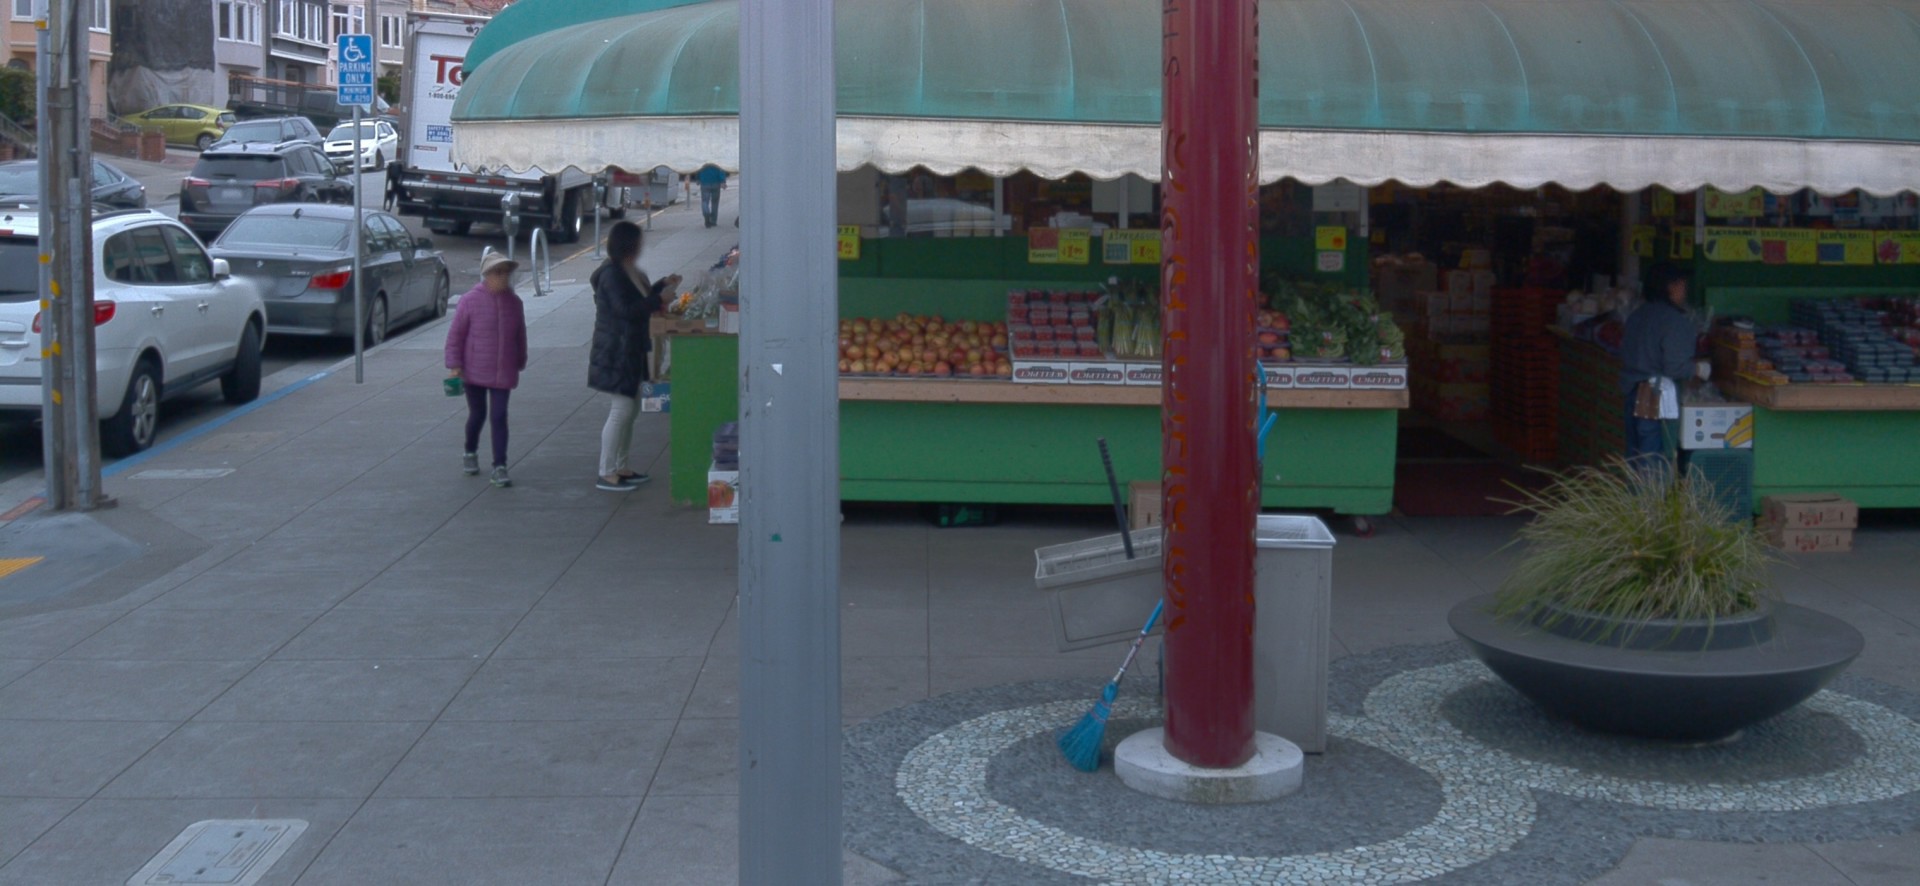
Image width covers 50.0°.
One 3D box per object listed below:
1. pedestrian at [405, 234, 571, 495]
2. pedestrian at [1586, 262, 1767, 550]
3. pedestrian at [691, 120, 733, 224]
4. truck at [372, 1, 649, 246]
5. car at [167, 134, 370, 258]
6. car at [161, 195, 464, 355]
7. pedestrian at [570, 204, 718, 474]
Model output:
[{"bbox_3d":[-2.964,-0.524,12.912,0.704,1.564,0.798,-2,3,-42],"label":"pedestrian"},{"bbox_3d":[4.020,-0.233,11.596,0.743,1.557,0.755,0,2,0],"label":"pedestrian"},{"bbox_3d":[-4.389,-4.795,36.427,0.707,1.817,0.655,0,2,-3],"label":"pedestrian"},{"bbox_3d":[-7.704,-5.466,36.842,2.914,3.770,10.115,0,5,-1],"label":"truck"},{"bbox_3d":[-10.458,-3.748,31.455,1.910,1.752,4.446,0,5,-4],"label":"car"},{"bbox_3d":[-6.721,-1.844,21.907,1.969,1.513,4.609,0,6,-3],"label":"car"},{"bbox_3d":[-1.974,-0.673,12.790,0.796,1.607,0.823,-1,2,-17],"label":"pedestrian"}]
